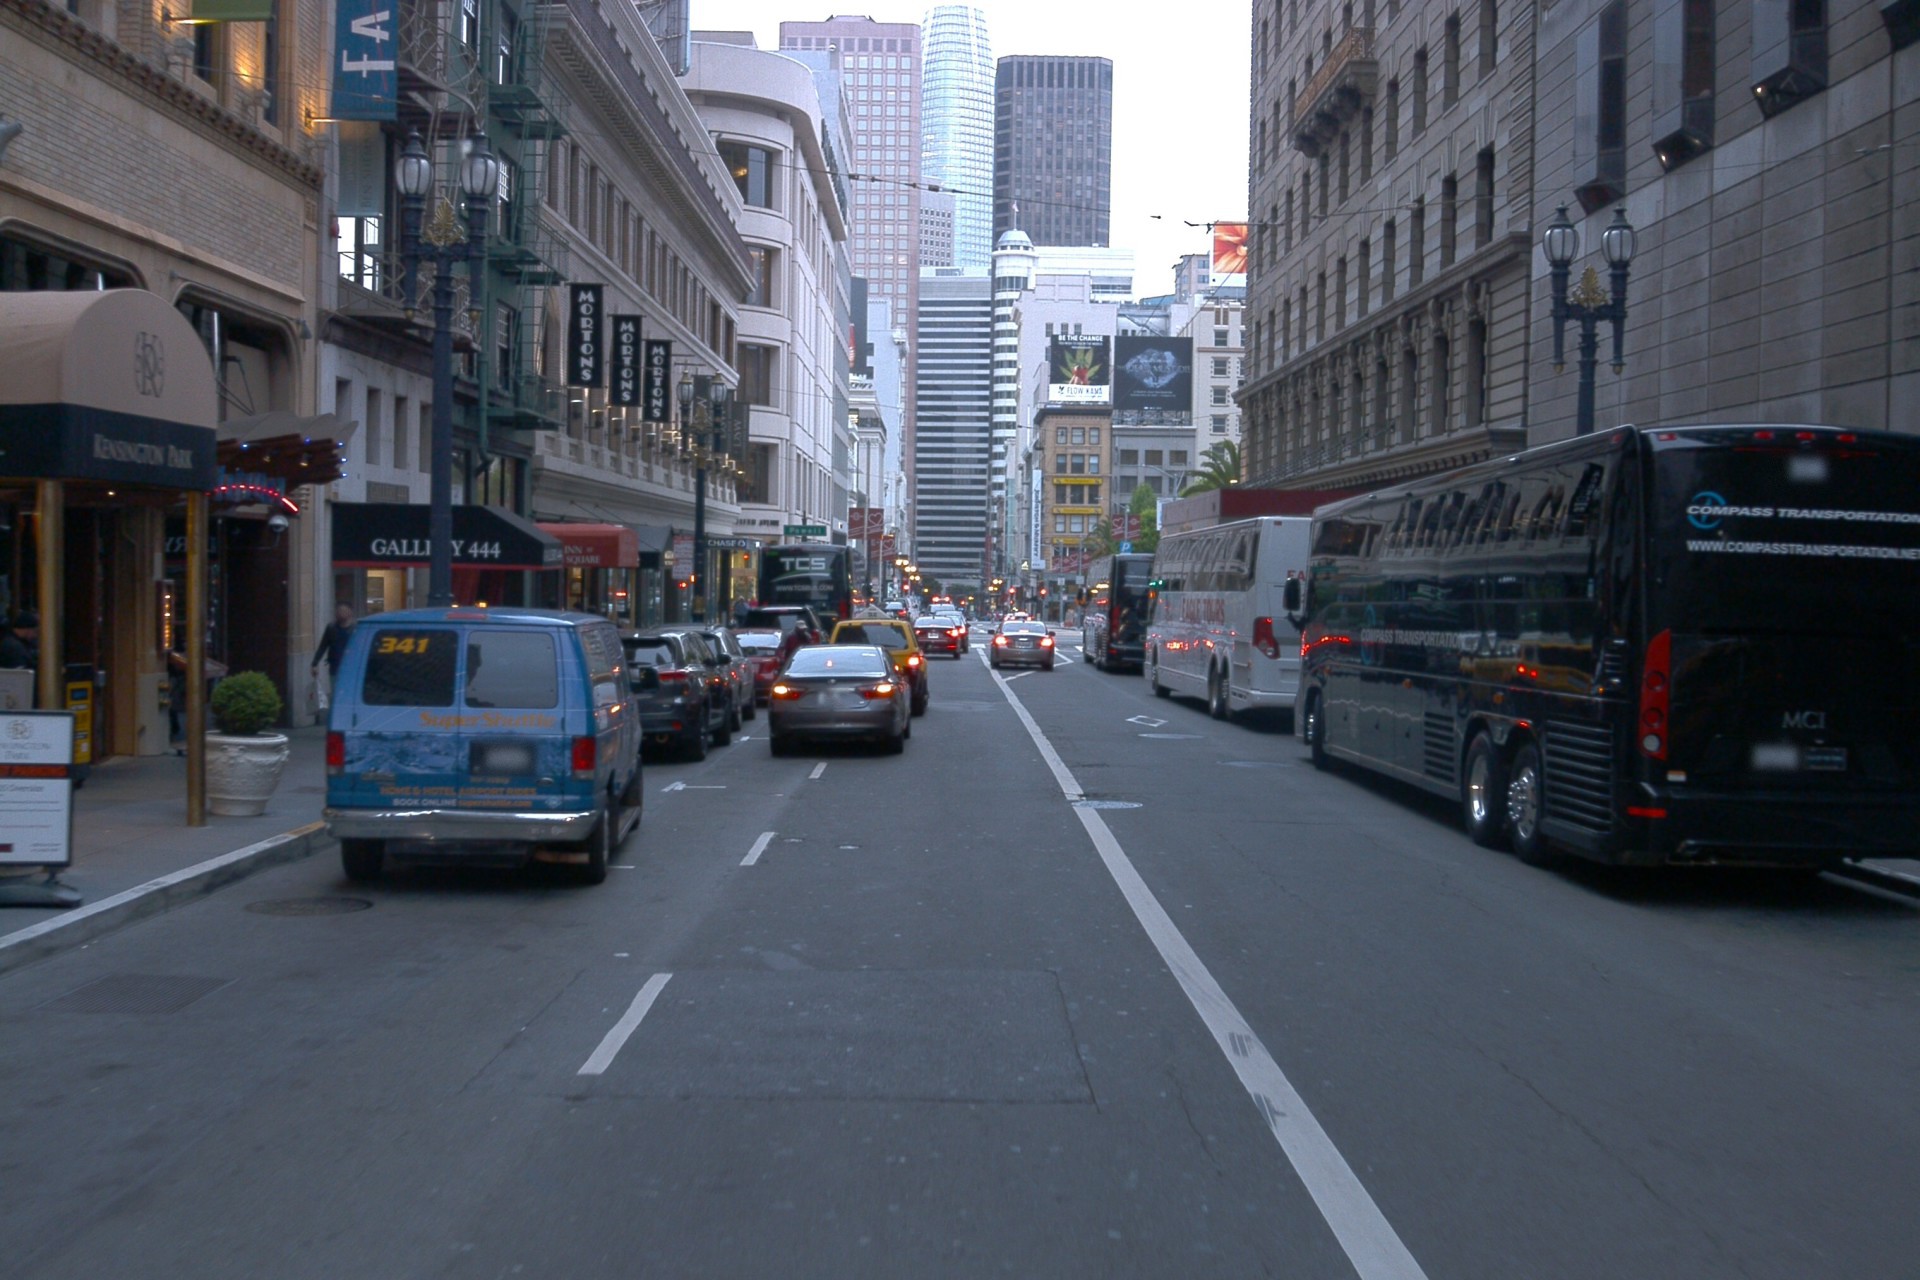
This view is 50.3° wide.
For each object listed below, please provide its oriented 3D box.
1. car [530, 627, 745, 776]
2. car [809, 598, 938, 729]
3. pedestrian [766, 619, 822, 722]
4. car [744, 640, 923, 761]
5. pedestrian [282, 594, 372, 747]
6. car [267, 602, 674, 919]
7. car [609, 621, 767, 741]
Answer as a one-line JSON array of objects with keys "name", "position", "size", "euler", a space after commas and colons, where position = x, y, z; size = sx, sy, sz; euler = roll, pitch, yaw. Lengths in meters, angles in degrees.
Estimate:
[{"name": "car", "position": [-4.249, 0.750, 27.789], "size": [2.183, 1.830, 4.884], "euler": [0, 1, 0]}, {"name": "car", "position": [-1.466, 0.364, 36.513], "size": [2.089, 2.172, 4.974], "euler": [0, 1, 0]}, {"name": "pedestrian", "position": [-2.850, 0.514, 35.158], "size": [0.909, 1.760, 0.858], "euler": [0, 1, -1]}, {"name": "car", "position": [-1.681, 0.783, 28.955], "size": [2.149, 1.510, 4.904], "euler": [0, 1, 1]}, {"name": "pedestrian", "position": [-8.205, 0.380, 26.547], "size": [0.941, 1.940, 1.042], "euler": [0, 1, -7]}, {"name": "car", "position": [-3.766, 0.800, 16.941], "size": [2.467, 2.182, 5.614], "euler": [0, 1, -5]}, {"name": "car", "position": [-4.324, 0.602, 33.153], "size": [2.093, 1.810, 4.552], "euler": [0, 1, -2]}]
